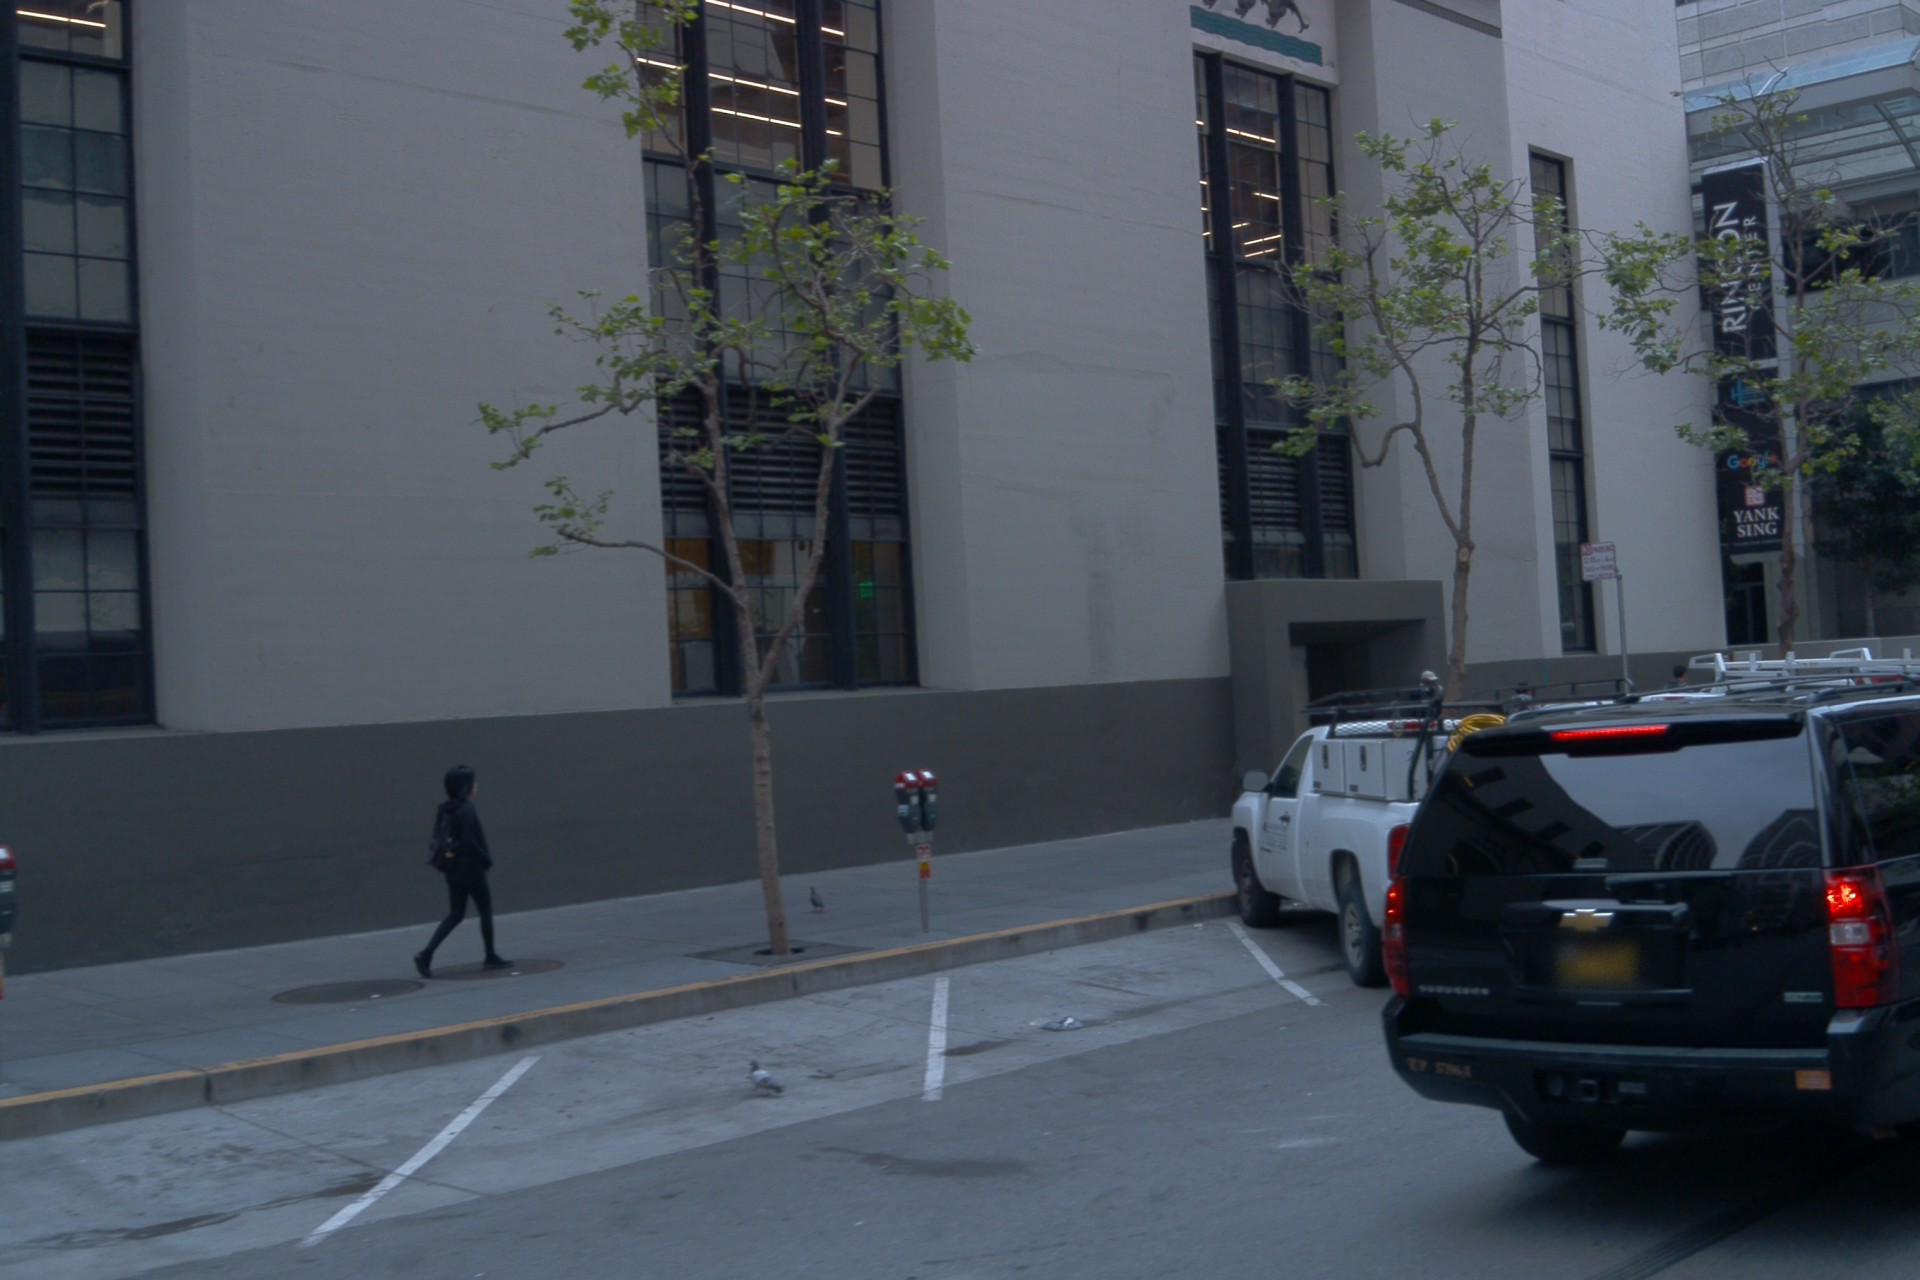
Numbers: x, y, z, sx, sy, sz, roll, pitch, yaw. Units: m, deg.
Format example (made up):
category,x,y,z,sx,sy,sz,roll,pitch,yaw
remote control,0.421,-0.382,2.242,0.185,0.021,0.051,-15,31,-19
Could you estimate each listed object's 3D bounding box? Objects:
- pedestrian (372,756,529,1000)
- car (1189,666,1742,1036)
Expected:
category,x,y,z,sx,sy,sz,roll,pitch,yaw
pedestrian,-3.808,1.747,15.420,0.882,1.680,0.736,-1,1,-44
car,3.575,1.384,16.061,2.460,2.200,5.628,0,1,-6
